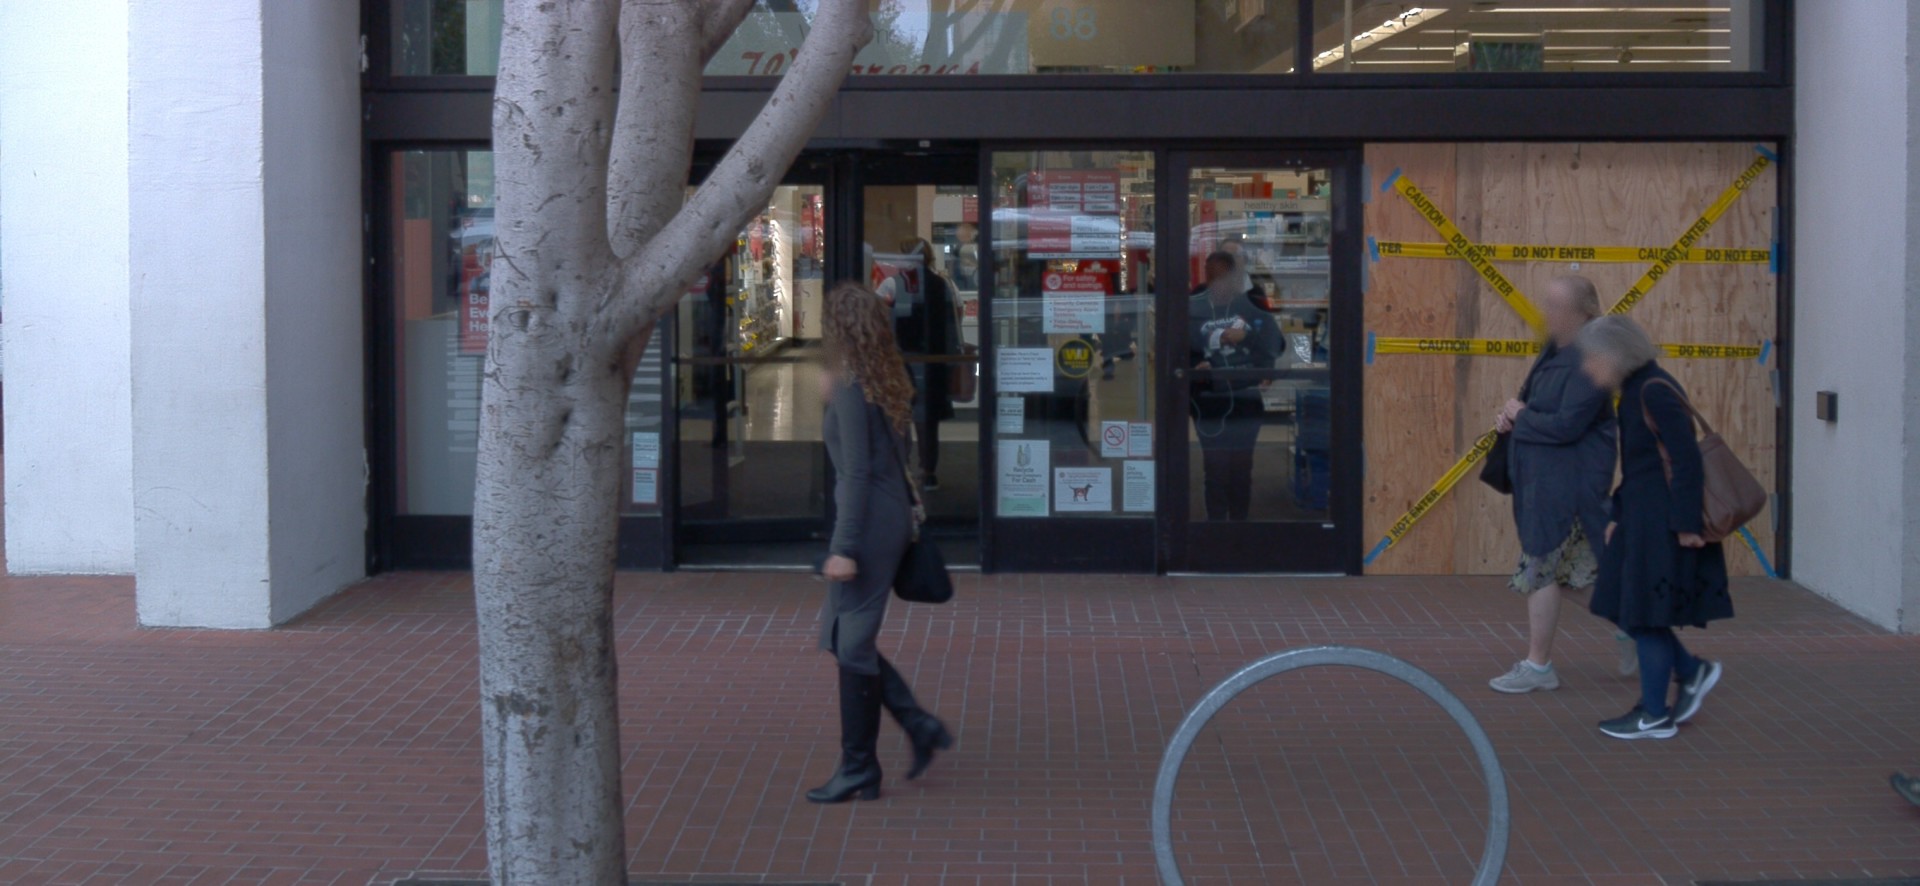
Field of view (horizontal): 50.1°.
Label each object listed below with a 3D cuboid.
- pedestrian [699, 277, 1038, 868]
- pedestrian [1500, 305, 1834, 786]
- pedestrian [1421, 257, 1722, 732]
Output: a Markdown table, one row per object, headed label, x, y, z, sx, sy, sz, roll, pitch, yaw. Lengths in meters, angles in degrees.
| label | x | y | z | sx | sy | sz | roll | pitch | yaw |
| --- | --- | --- | --- | --- | --- | --- | --- | --- | --- |
| pedestrian | -0.258 | 0.344 | 6.517 | 0.969 | 1.725 | 0.848 | 0 | 1 | 5 |
| pedestrian | 2.432 | 0.310 | 7.160 | 0.893 | 1.555 | 0.782 | 0 | 1 | -1 |
| pedestrian | 2.311 | 0.152 | 7.856 | 0.915 | 1.715 | 0.742 | 0 | 1 | -2 |
